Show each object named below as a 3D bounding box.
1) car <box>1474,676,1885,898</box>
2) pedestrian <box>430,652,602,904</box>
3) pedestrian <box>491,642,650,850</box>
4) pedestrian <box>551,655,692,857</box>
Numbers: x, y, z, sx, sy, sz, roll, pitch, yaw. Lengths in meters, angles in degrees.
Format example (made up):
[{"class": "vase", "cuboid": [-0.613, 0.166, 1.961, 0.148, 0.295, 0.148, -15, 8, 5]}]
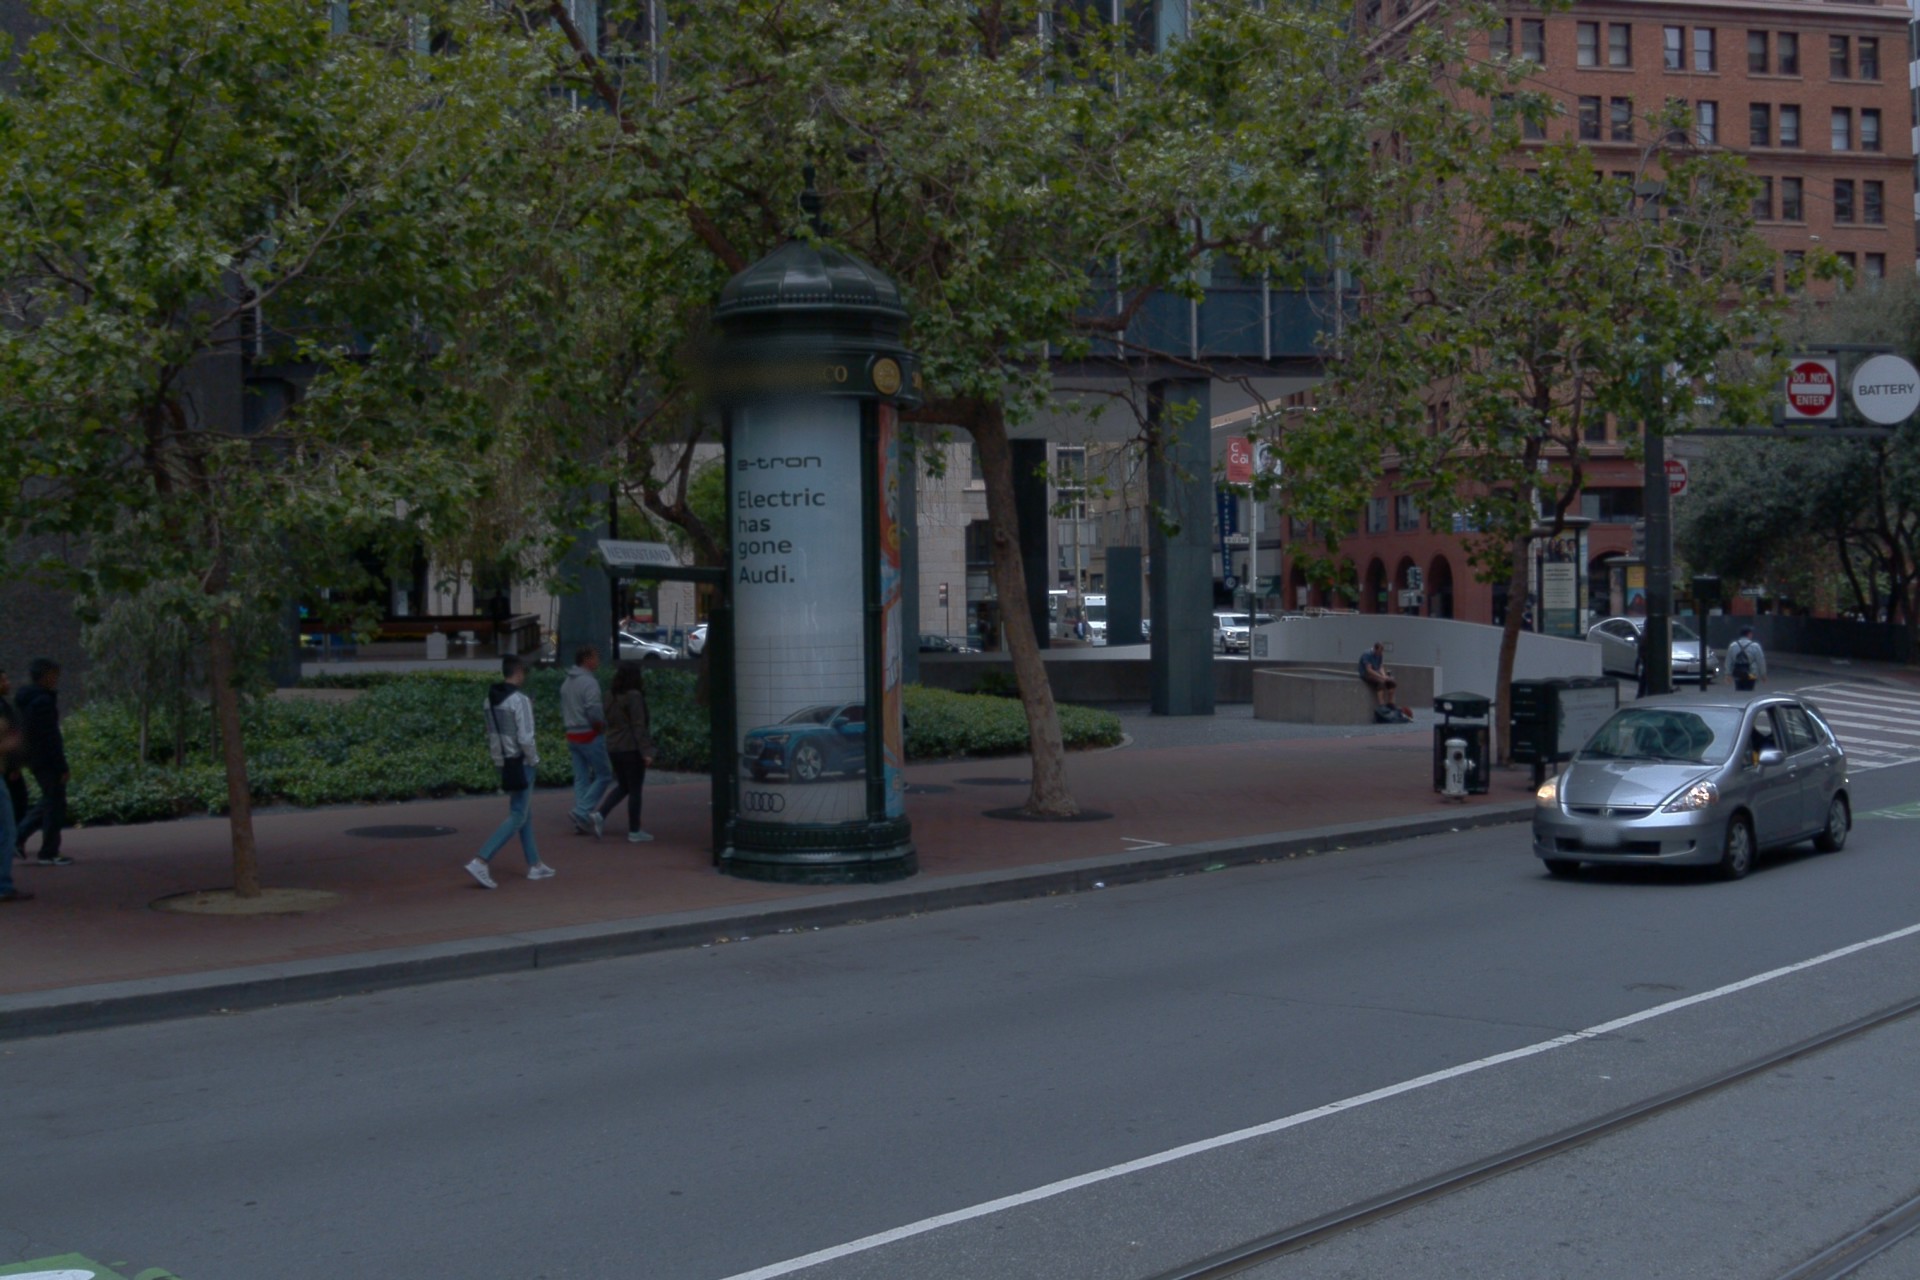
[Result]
[{"class": "car", "cuboid": [6.366, 1.167, 17.962, 2.059, 1.580, 3.998, 1, 1, 41]}, {"class": "pedestrian", "cuboid": [-3.548, 1.065, 16.475, 0.742, 1.920, 1.125, 1, 1, 41]}, {"class": "pedestrian", "cuboid": [-3.692, 0.970, 19.521, 1.189, 1.880, 0.885, -1, 1, -42]}, {"class": "pedestrian", "cuboid": [-3.110, 1.038, 18.894, 1.016, 1.770, 0.768, -1, 1, -44]}]
